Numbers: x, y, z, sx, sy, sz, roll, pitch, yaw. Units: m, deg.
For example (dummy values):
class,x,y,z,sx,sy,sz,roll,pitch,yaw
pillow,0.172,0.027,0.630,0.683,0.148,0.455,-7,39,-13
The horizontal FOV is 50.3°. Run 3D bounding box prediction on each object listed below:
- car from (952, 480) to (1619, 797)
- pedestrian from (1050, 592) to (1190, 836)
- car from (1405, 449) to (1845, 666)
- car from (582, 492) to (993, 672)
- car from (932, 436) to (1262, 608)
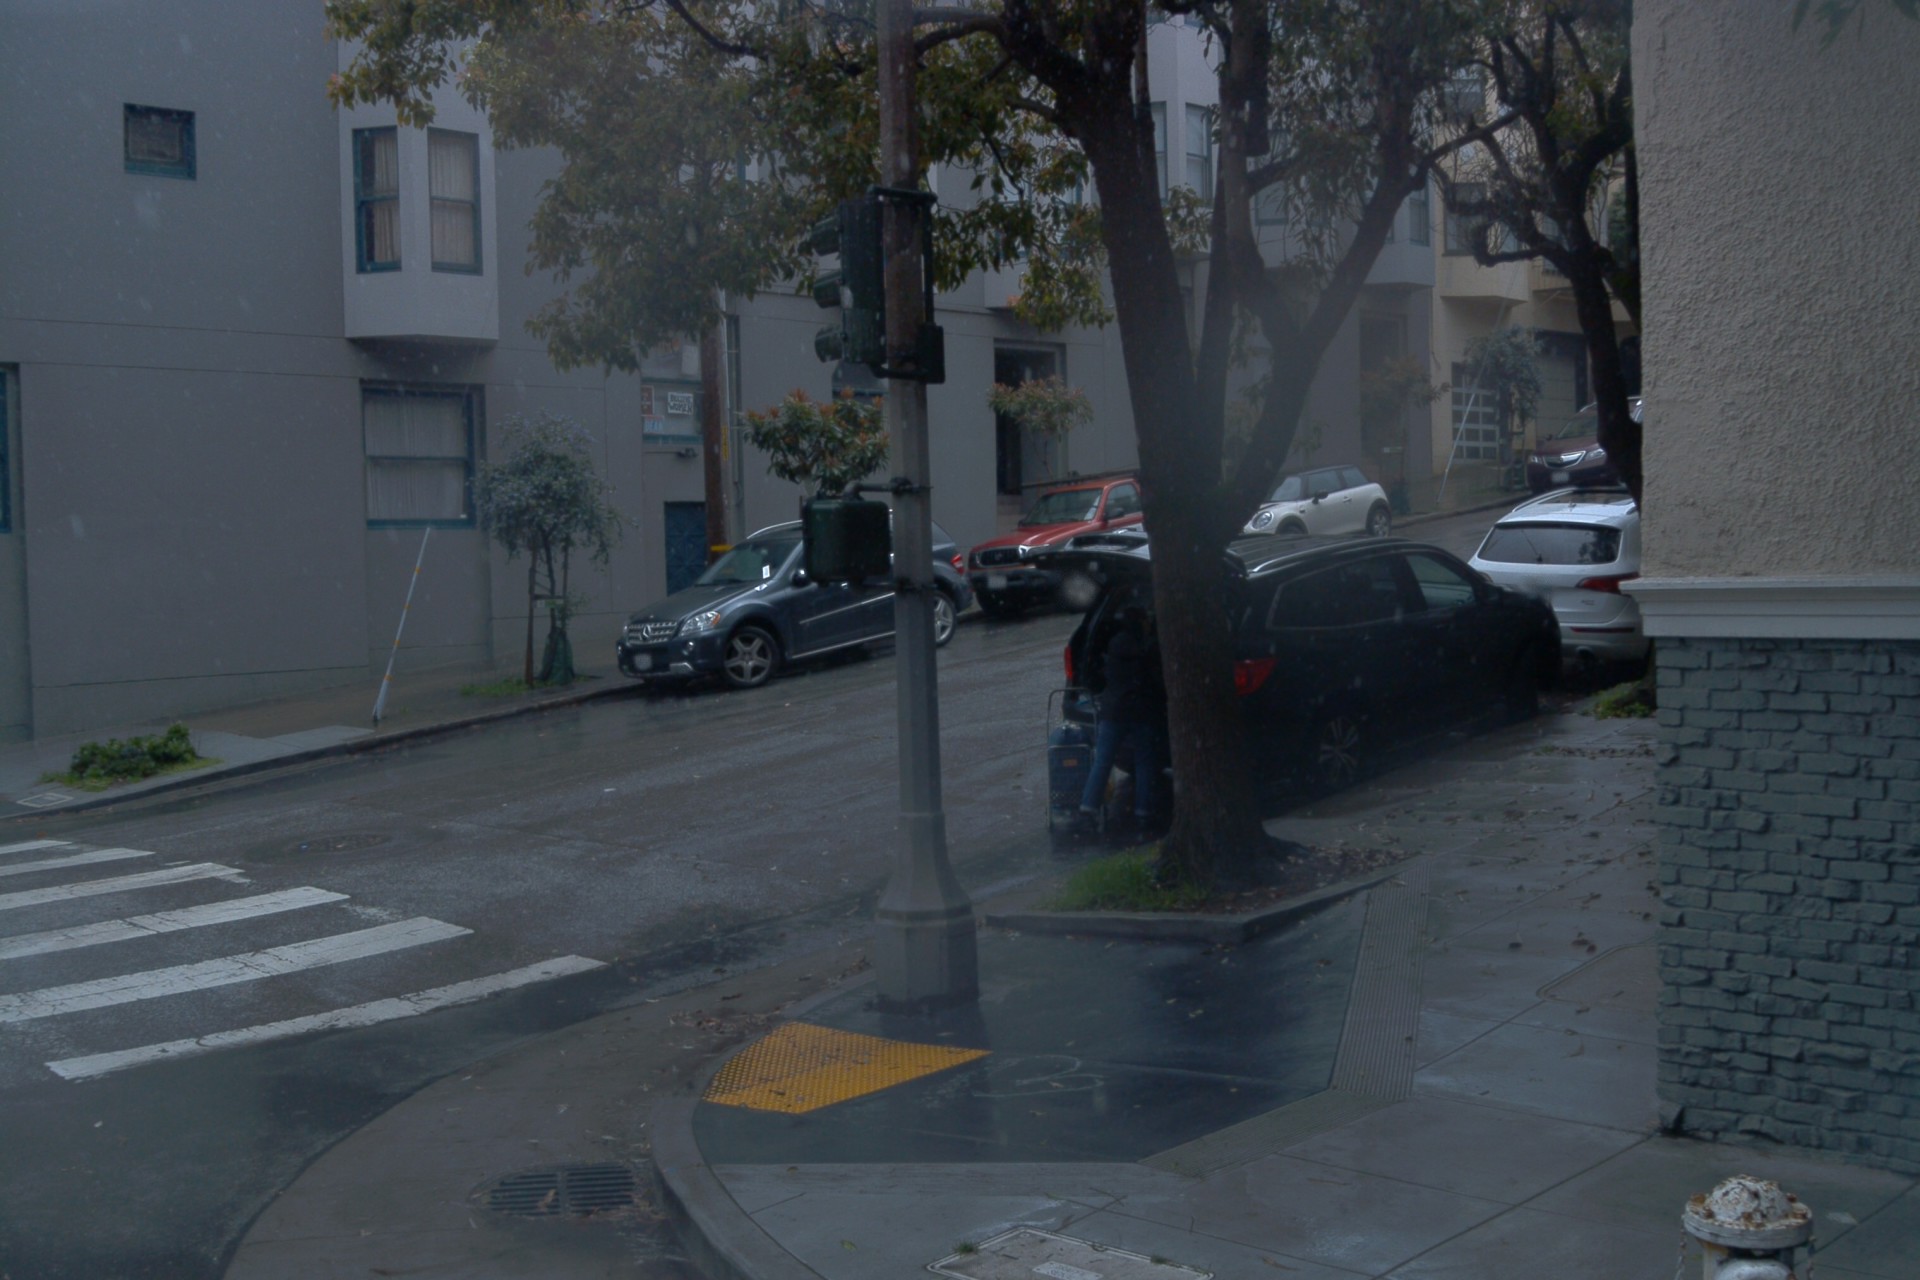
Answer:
class,x,y,z,sx,sy,sz,roll,pitch,yaw
car,2.763,-0.002,16.053,2.384,2.040,5.680,0,0,43
pedestrian,1.123,0.496,14.207,0.793,1.634,0.885,0,0,17
car,6.561,-0.697,19.838,2.355,1.840,4.675,0,0,42
car,-2.014,-0.636,24.921,2.225,1.980,4.671,0,0,45
car,2.018,-1.586,29.198,4.537,2.180,2.259,0,0,-45
